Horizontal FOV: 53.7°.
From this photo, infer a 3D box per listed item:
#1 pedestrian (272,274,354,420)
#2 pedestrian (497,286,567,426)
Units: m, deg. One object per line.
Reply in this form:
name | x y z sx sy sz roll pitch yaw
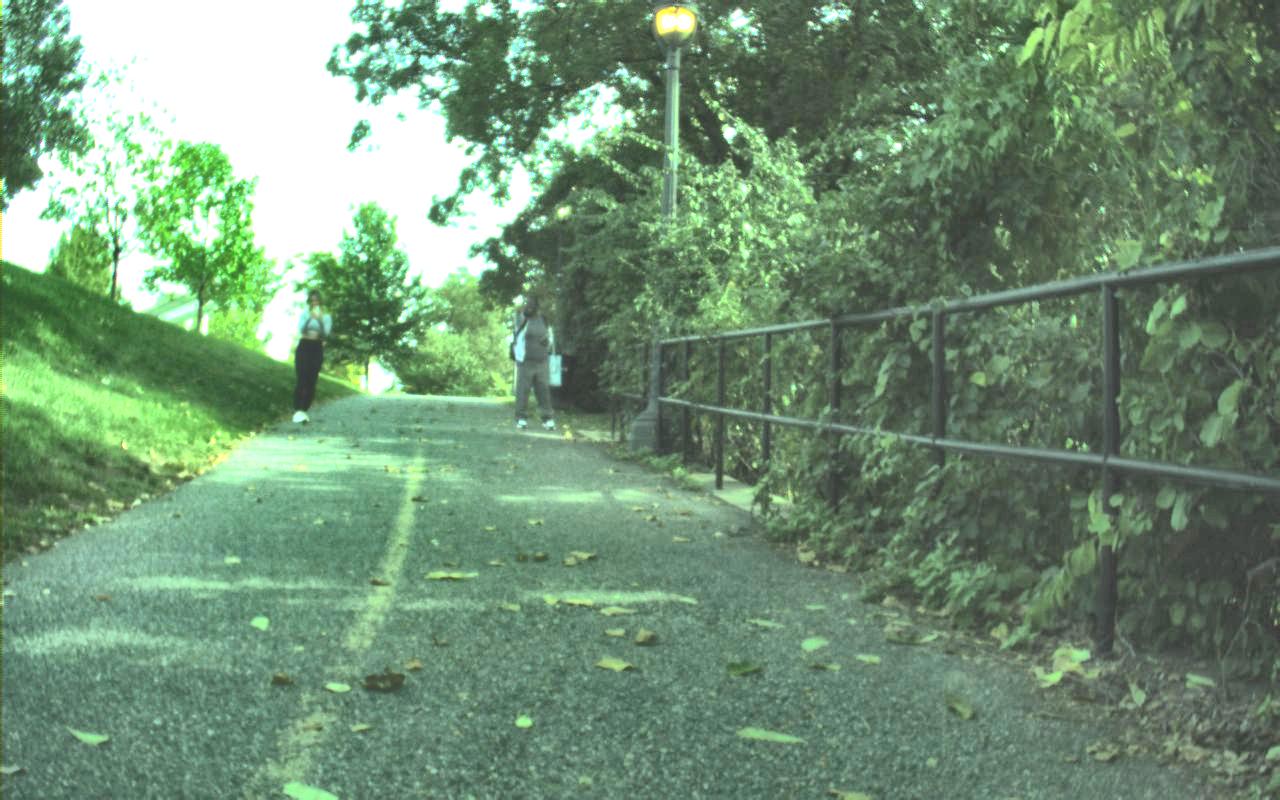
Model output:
pedestrian | -3.940 -0.614 14.705 0.797 1.695 0.806 0 0 -32
pedestrian | -1.379 -0.549 15.987 0.858 1.724 0.864 0 0 -6
